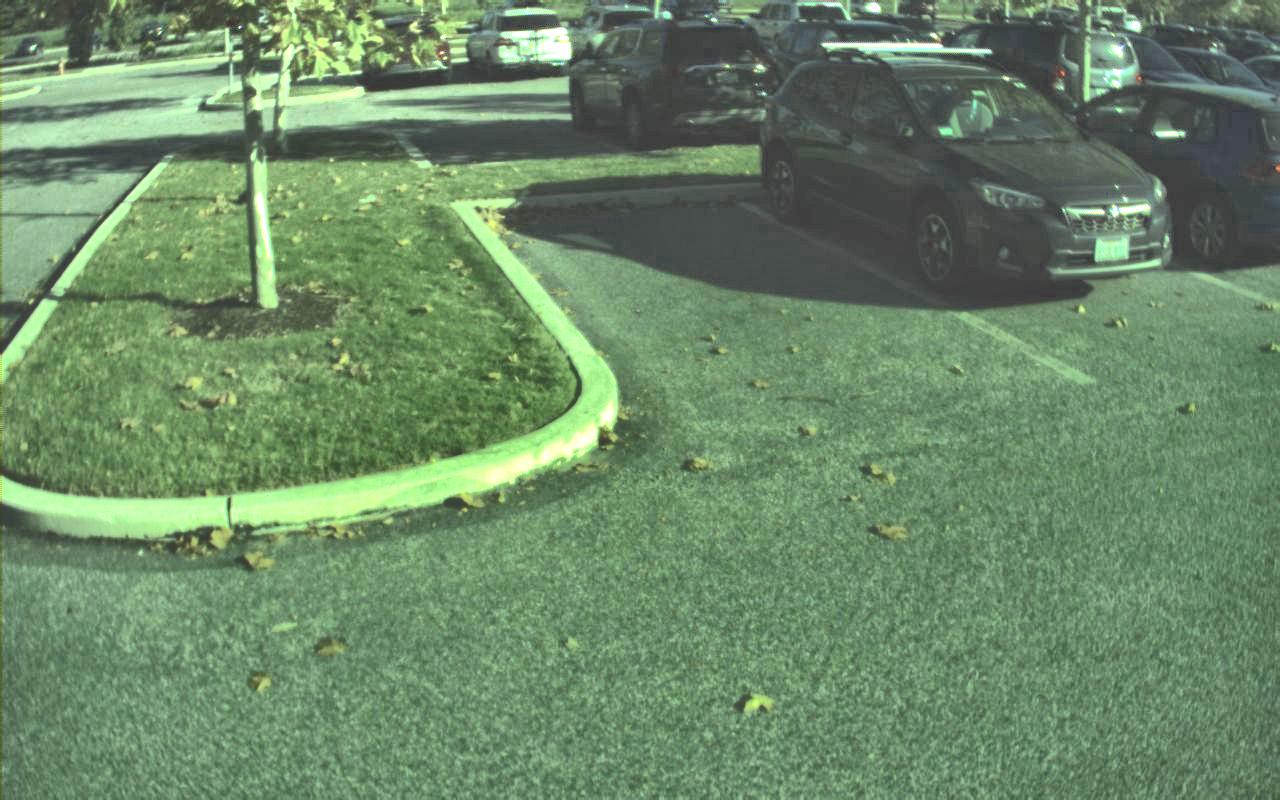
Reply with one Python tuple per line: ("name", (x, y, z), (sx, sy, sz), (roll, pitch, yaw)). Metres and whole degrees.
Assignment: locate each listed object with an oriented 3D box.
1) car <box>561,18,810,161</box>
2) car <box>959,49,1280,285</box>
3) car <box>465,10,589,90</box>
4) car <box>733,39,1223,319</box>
("car", (0.456, -4.477, 17.386), (2.026, 1.745, 4.756), (-6, 17, -17))
("car", (4.953, -2.324, 10.771), (1.928, 1.585, 4.404), (-7, 18, -20))
("car", (-2.938, -8.758, 30.697), (2.063, 1.819, 4.805), (-6, 17, -17))
("car", (2.489, -2.031, 9.849), (1.954, 1.683, 4.556), (-6, 17, -17))
